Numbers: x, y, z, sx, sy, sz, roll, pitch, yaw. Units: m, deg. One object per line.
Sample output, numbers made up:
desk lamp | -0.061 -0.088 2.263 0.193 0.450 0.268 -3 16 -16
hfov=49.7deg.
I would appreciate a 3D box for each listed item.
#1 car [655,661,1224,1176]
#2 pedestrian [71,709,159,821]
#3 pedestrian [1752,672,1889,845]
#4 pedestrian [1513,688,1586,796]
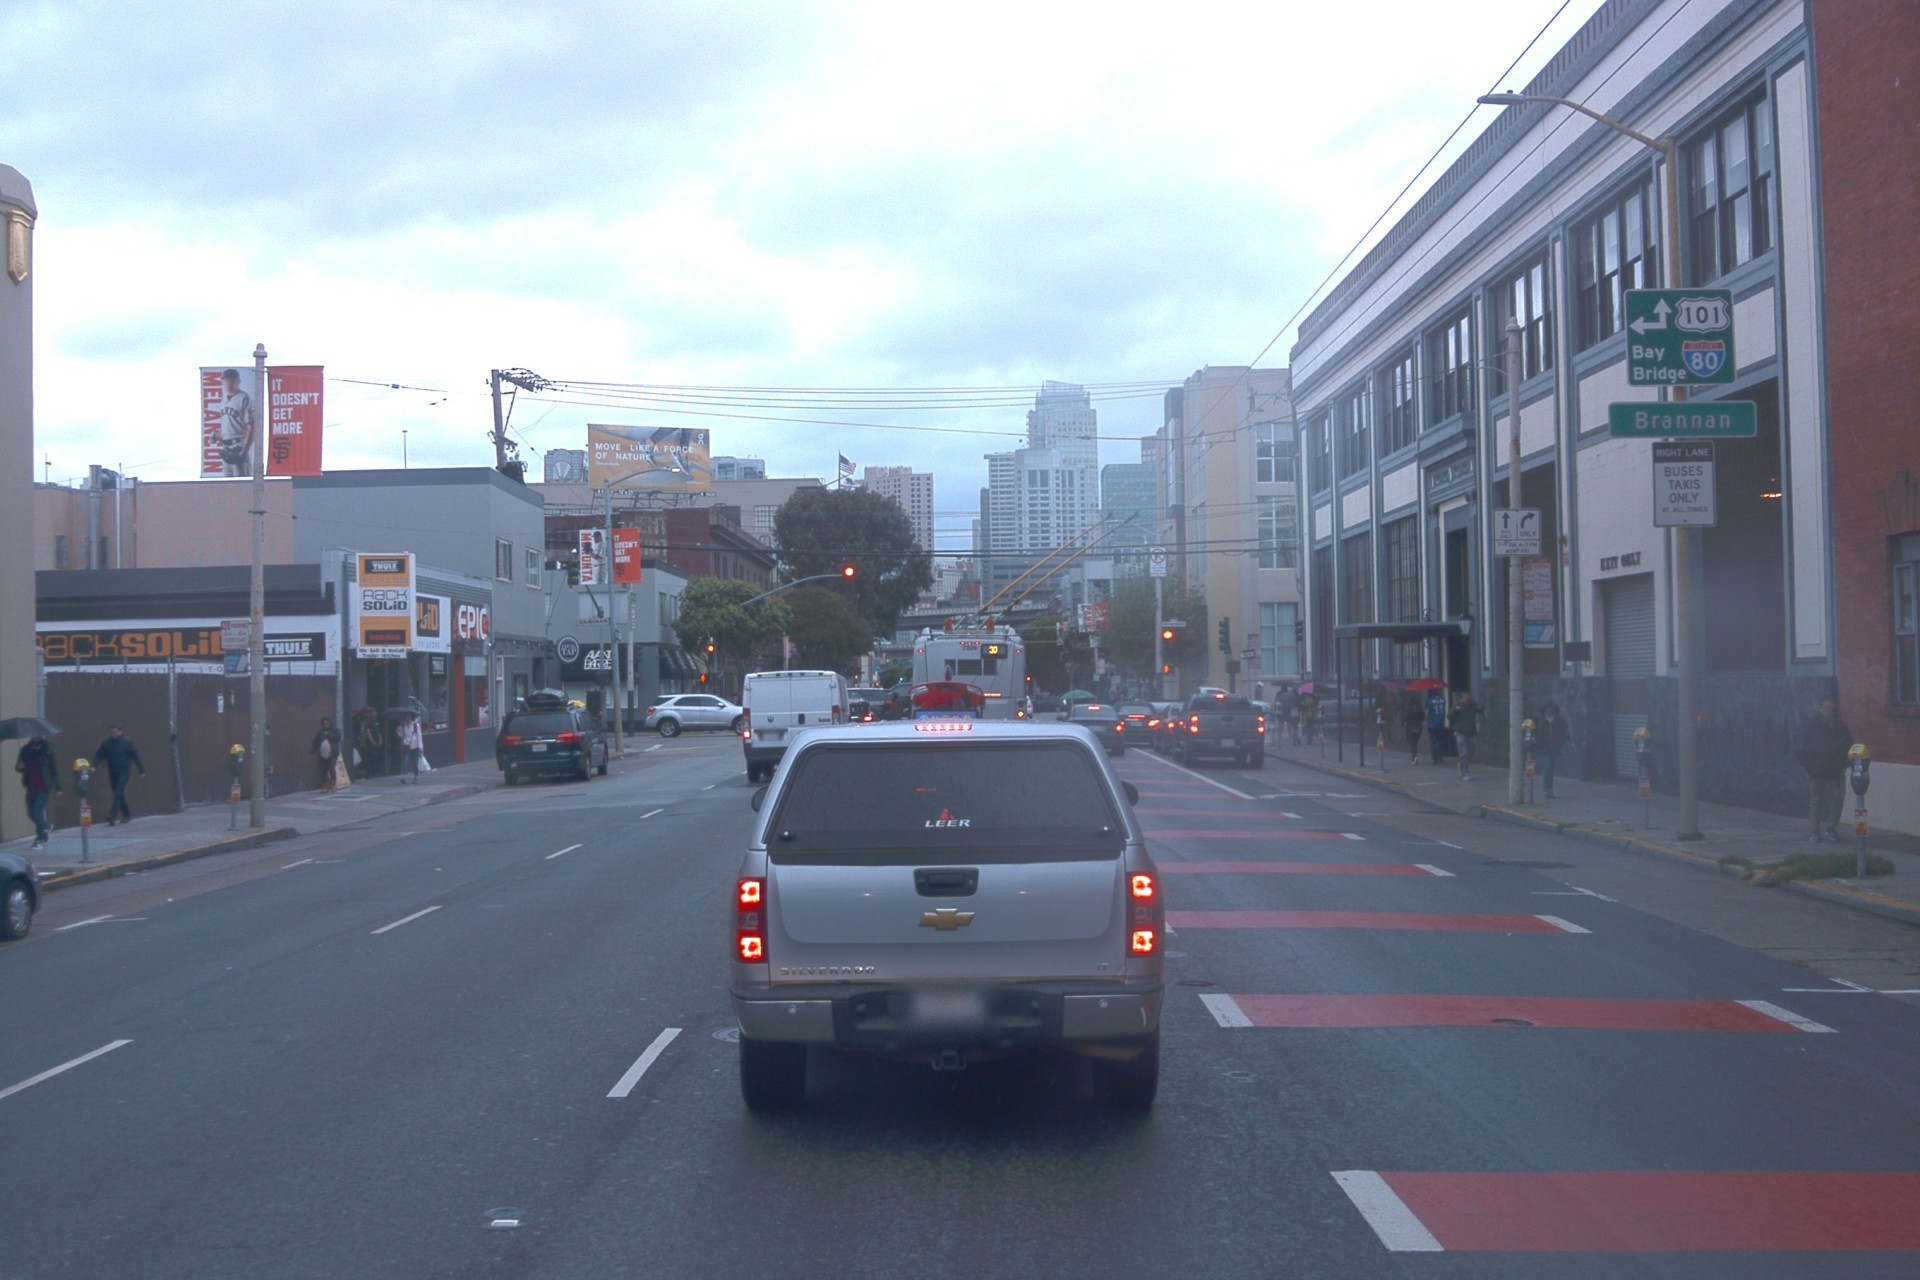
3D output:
car | -0.087 1.230 11.368 2.437 2.200 4.924 0 -1 0
pedestrian | -13.332 1.962 32.728 0.936 1.708 1.069 0 -1 2
pedestrian | 10.097 1.364 24.390 1.012 1.970 1.529 0 -1 3
pedestrian | 9.738 1.671 34.287 0.899 1.750 1.035 0 -1 0
